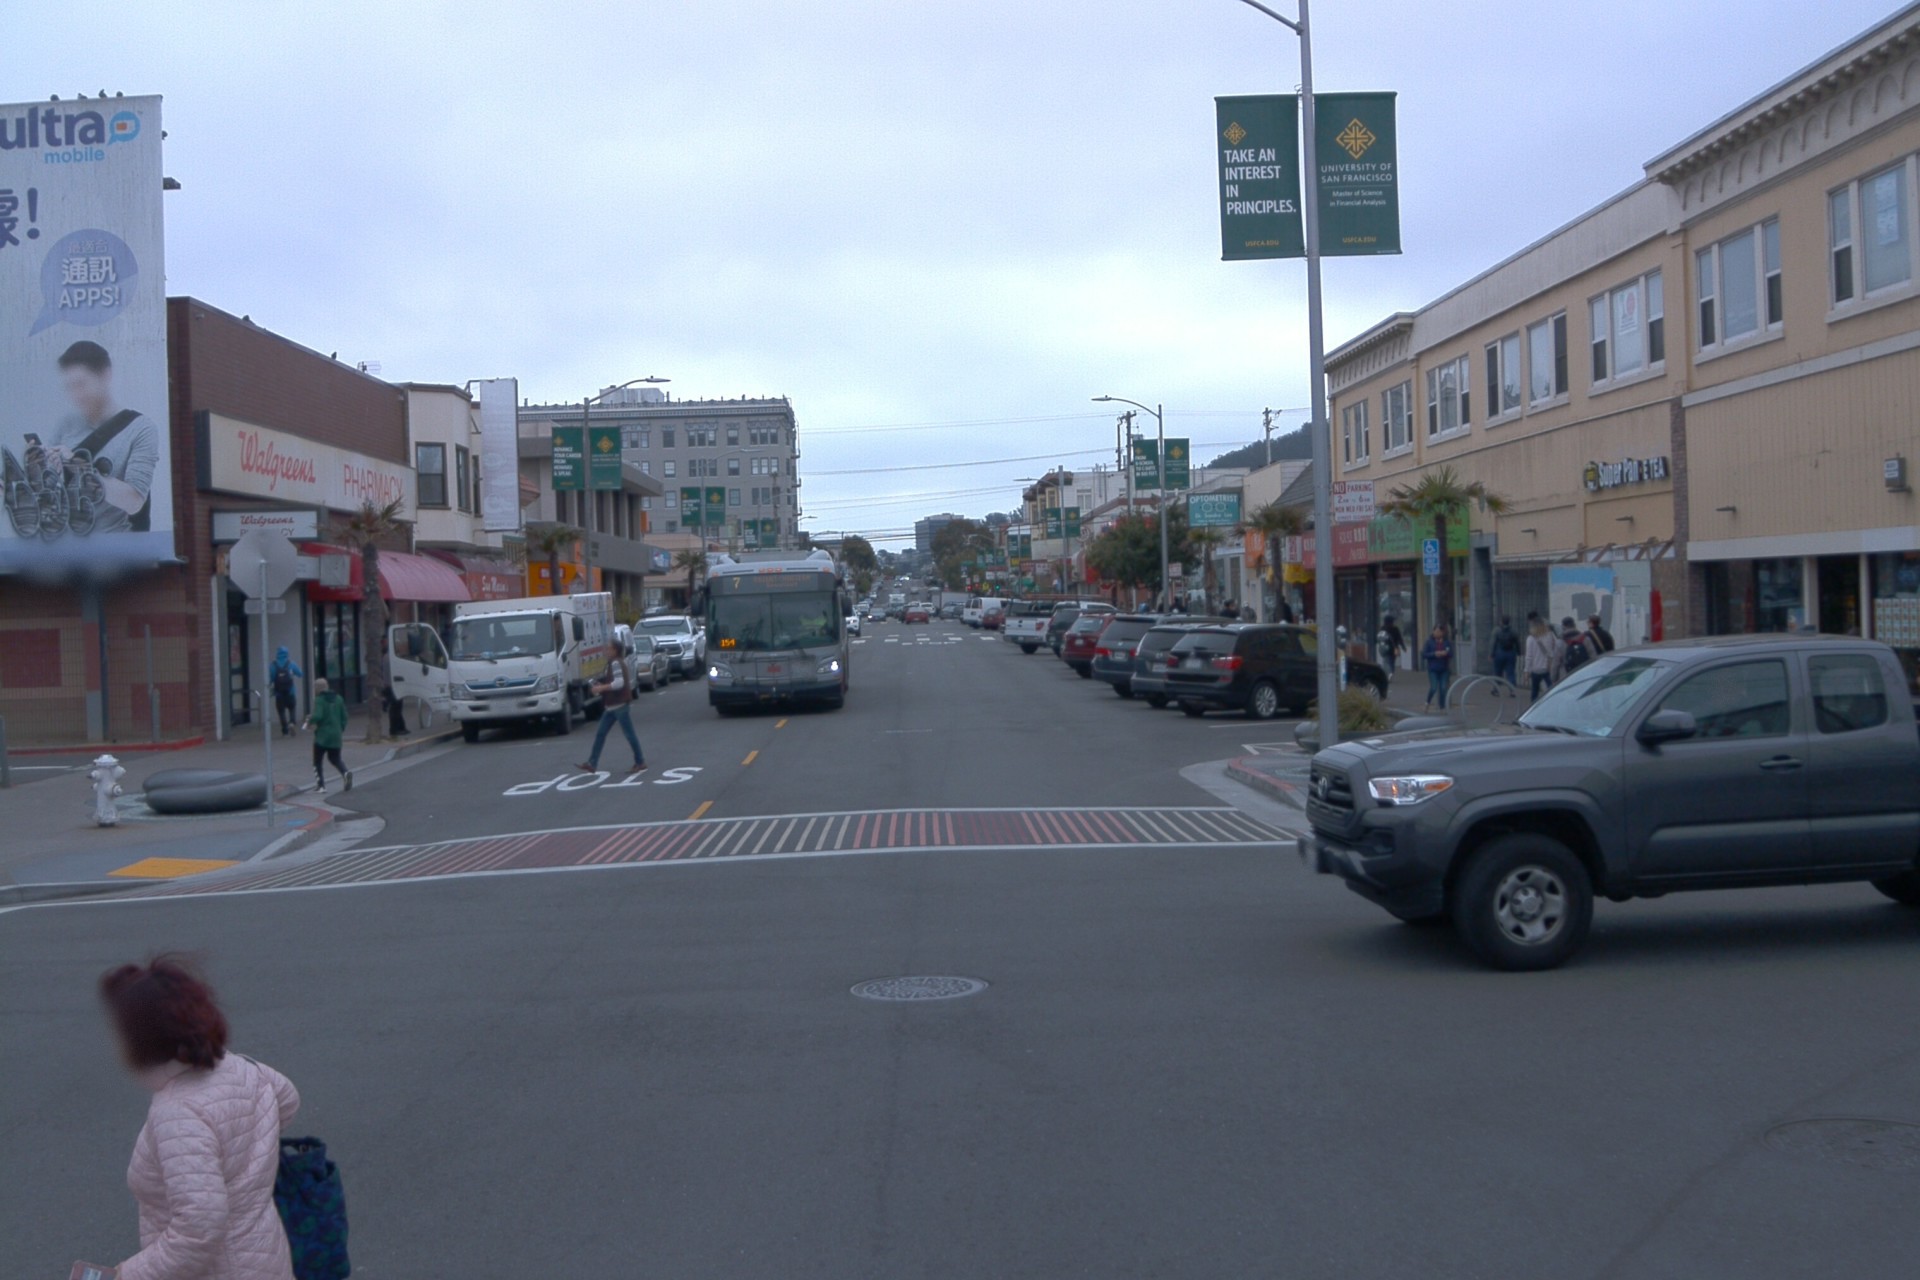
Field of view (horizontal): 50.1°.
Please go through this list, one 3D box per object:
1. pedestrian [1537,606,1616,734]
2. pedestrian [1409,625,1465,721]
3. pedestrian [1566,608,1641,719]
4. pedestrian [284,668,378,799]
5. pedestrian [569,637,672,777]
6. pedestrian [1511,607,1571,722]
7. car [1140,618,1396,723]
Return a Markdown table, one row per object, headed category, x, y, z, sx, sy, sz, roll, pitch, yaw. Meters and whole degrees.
| category | x | y | z | sx | sy | sz | roll | pitch | yaw |
| --- | --- | --- | --- | --- | --- | --- | --- | --- | --- |
| pedestrian | 8.675 | 0.403 | 28.963 | 0.925 | 1.770 | 0.948 | 0 | 1 | 8 |
| pedestrian | 8.056 | 0.553 | 34.744 | 0.747 | 1.598 | 0.778 | 0 | 1 | -3 |
| pedestrian | 10.279 | 0.362 | 32.883 | 0.952 | 1.742 | 0.808 | 0 | 1 | 2 |
| pedestrian | -8.556 | 1.251 | 27.951 | 1.108 | 1.713 | 0.764 | 1 | 1 | 43 |
| pedestrian | -4.564 | 0.877 | 27.615 | 1.259 | 1.820 | 0.886 | -1 | 1 | -15 |
| pedestrian | 9.312 | 0.384 | 32.979 | 0.711 | 1.824 | 0.916 | 0 | 1 | 2 |
| car | 5.568 | 0.496 | 36.904 | 4.510 | 1.740 | 2.044 | -1 | 1 | -39 |
